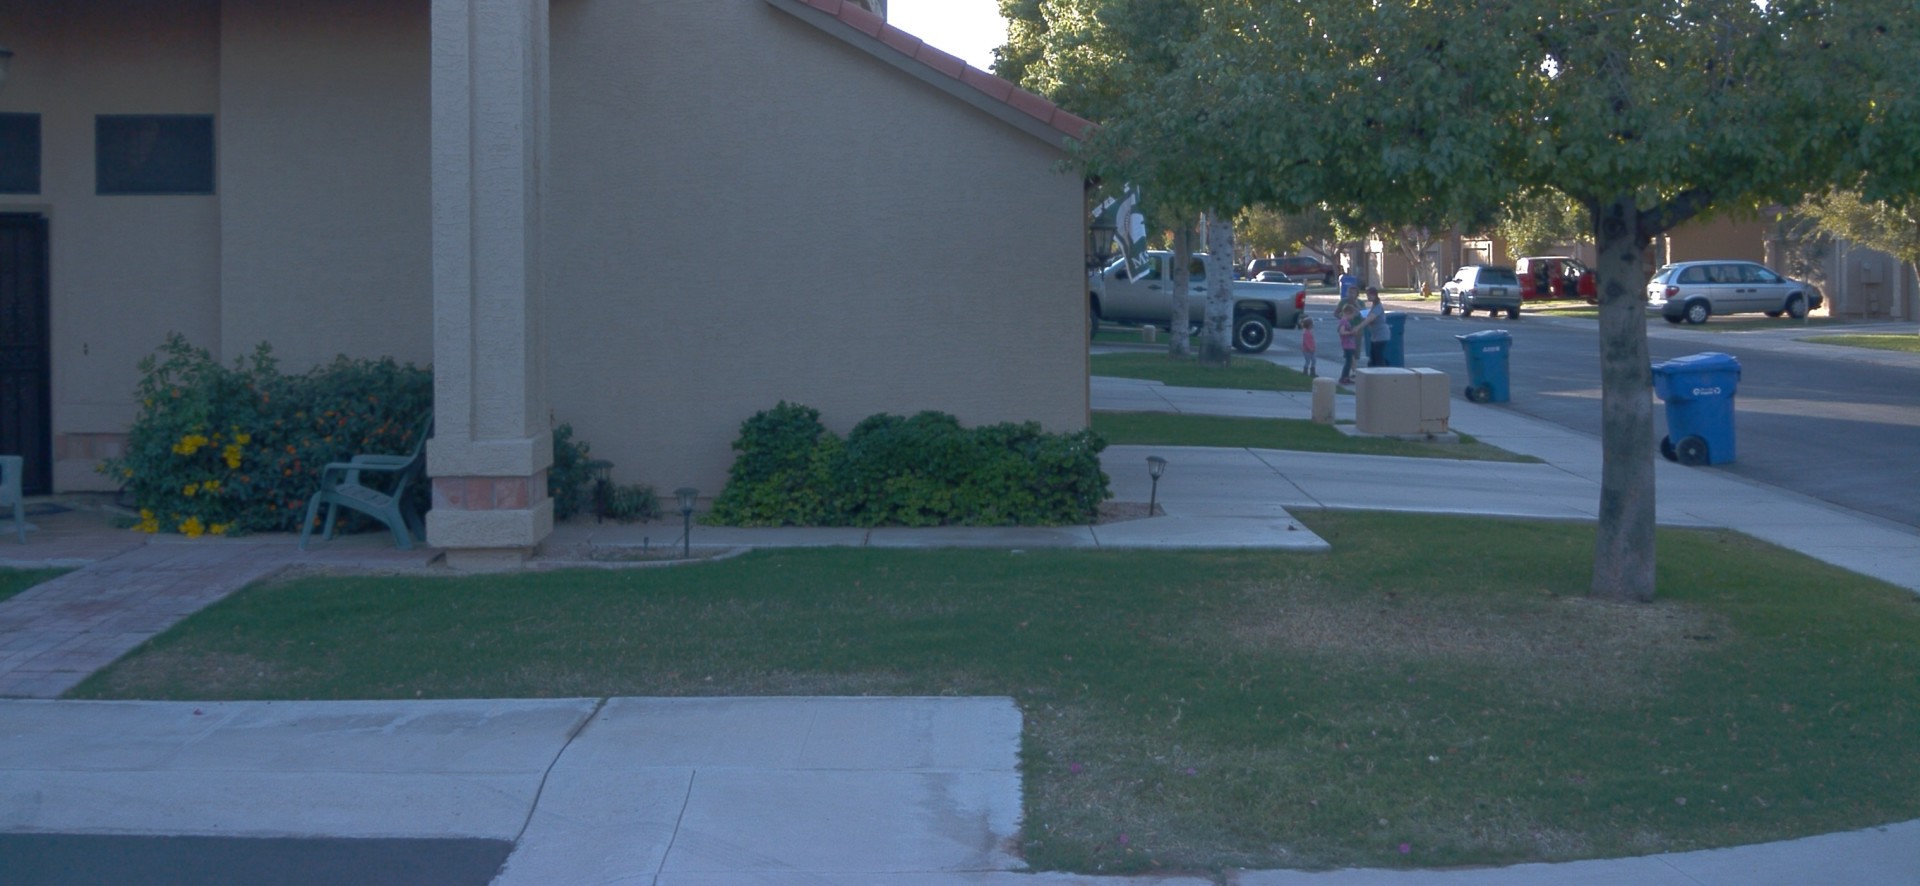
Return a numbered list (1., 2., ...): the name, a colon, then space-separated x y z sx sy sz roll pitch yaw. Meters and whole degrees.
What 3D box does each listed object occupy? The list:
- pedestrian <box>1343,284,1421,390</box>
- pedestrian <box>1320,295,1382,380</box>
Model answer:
1. pedestrian: 6.717 -1.705 33.040 0.947 1.617 0.756 -2 3 -35
2. pedestrian: 6.168 -1.673 32.732 0.693 1.277 0.663 -1 3 -34
